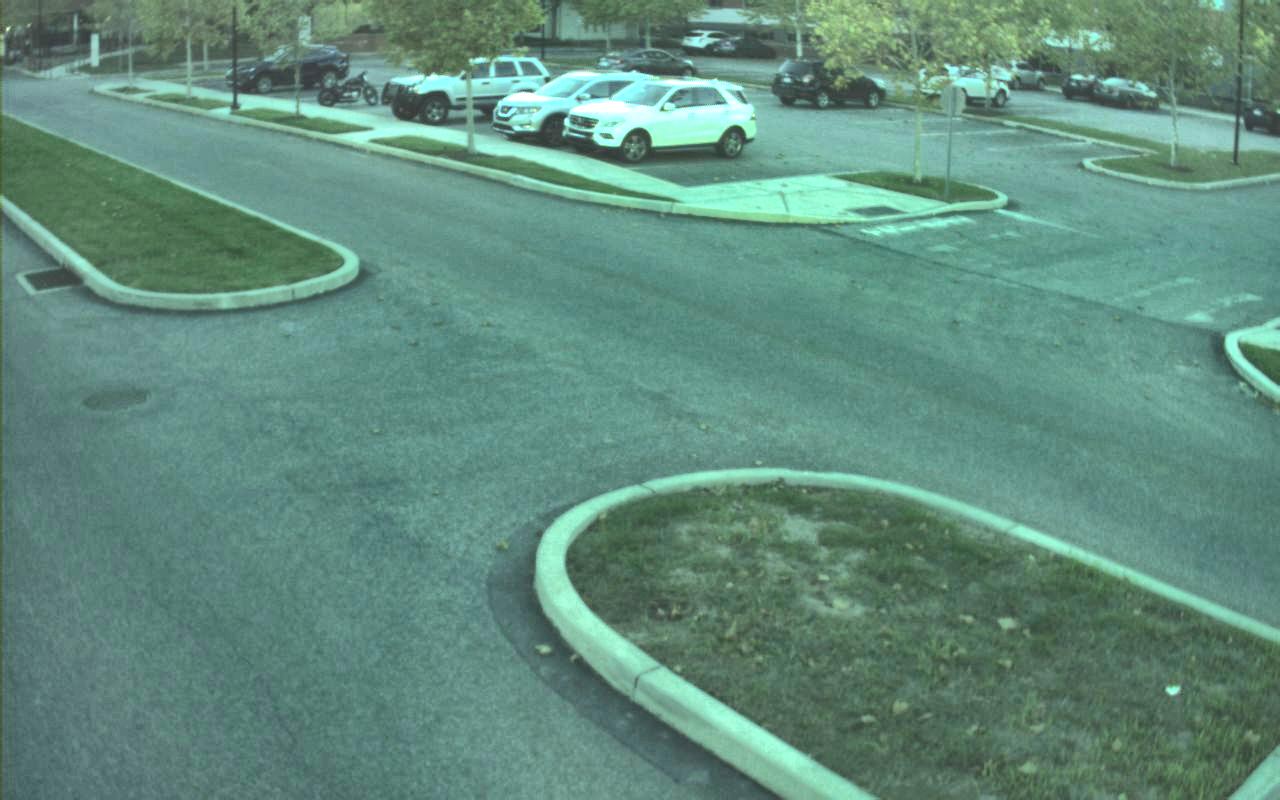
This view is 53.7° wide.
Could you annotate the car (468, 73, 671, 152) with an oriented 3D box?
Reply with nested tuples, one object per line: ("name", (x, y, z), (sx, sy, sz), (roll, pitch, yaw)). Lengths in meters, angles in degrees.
("car", (-1.646, -6.908, 29.609), (4.548, 1.599, 1.954), (-13, 20, -36))

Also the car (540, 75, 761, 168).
("car", (0.316, -6.332, 27.976), (4.857, 1.782, 2.045), (-15, 21, -39))

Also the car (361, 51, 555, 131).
("car", (-4.942, -8.426, 33.366), (4.943, 1.843, 2.080), (-13, 19, -36))
